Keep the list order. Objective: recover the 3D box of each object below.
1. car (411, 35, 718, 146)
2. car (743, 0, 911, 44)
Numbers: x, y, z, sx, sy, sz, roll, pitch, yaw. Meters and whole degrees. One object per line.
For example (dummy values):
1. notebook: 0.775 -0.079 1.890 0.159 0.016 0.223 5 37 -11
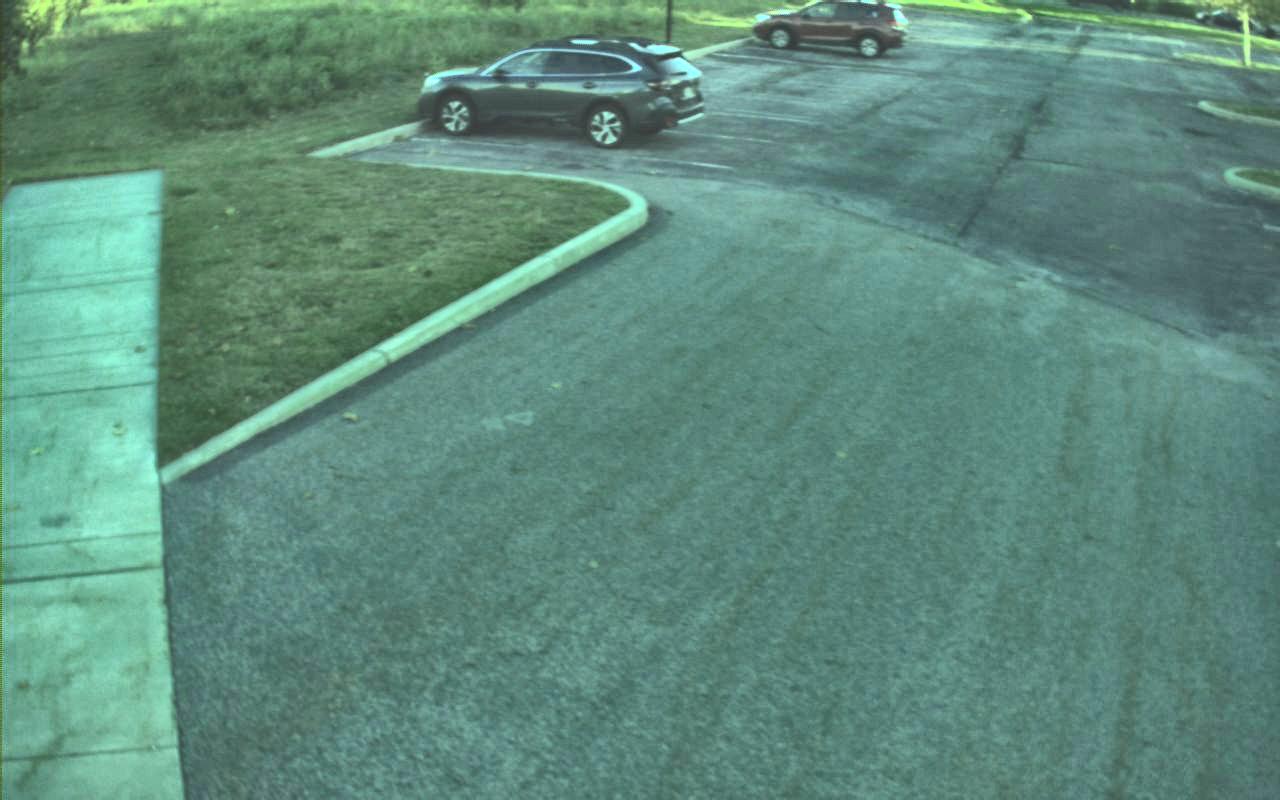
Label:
1. car: -1.253 -5.055 20.132 4.613 1.657 1.995 6 17 22
2. car: 5.580 -11.373 35.893 4.723 1.666 2.022 4 16 18
